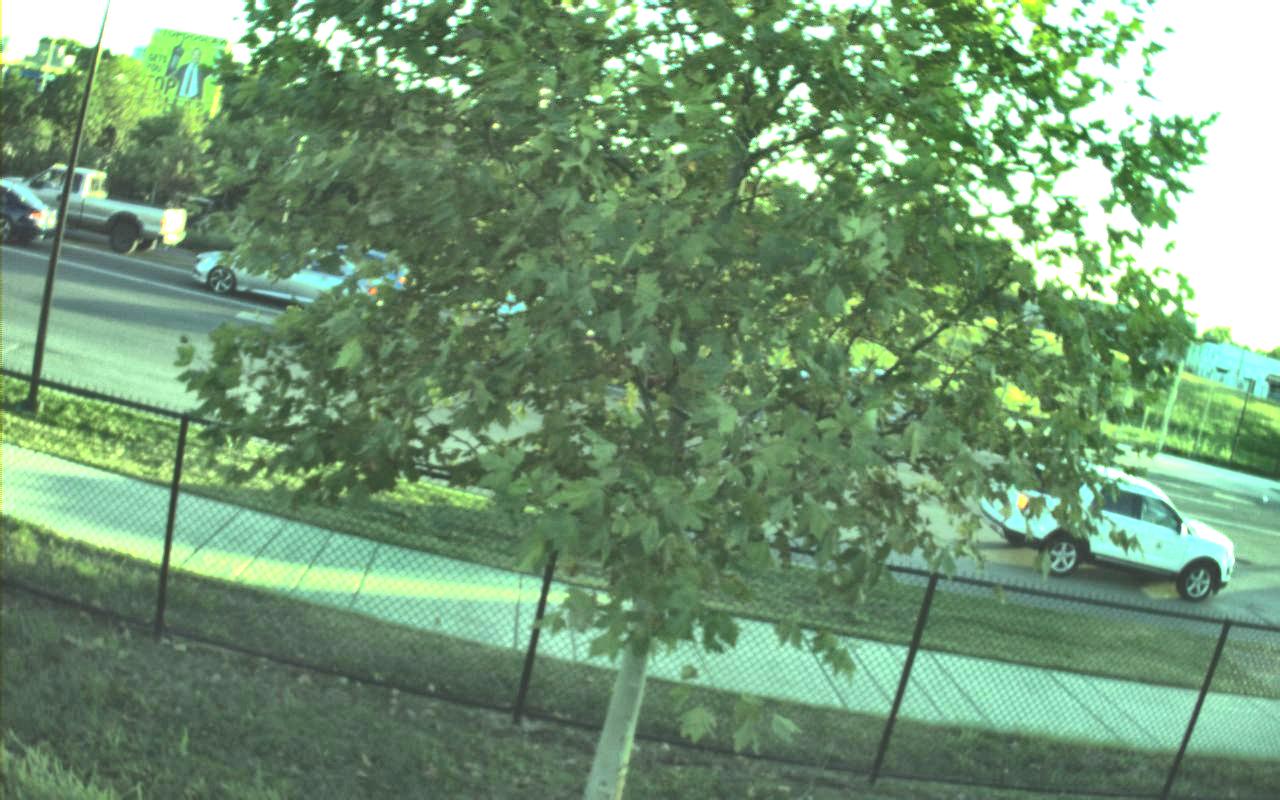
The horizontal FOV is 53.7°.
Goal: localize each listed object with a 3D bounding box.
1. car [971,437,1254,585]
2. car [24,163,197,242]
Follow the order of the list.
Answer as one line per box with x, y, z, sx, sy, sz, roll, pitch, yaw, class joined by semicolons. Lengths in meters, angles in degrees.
8.101;1.864;20.257;4.582;1.611;1.983;-2;16;-3;car
-14.779;-5.423;32.102;4.679;1.637;2.006;-2;16;-2;car
